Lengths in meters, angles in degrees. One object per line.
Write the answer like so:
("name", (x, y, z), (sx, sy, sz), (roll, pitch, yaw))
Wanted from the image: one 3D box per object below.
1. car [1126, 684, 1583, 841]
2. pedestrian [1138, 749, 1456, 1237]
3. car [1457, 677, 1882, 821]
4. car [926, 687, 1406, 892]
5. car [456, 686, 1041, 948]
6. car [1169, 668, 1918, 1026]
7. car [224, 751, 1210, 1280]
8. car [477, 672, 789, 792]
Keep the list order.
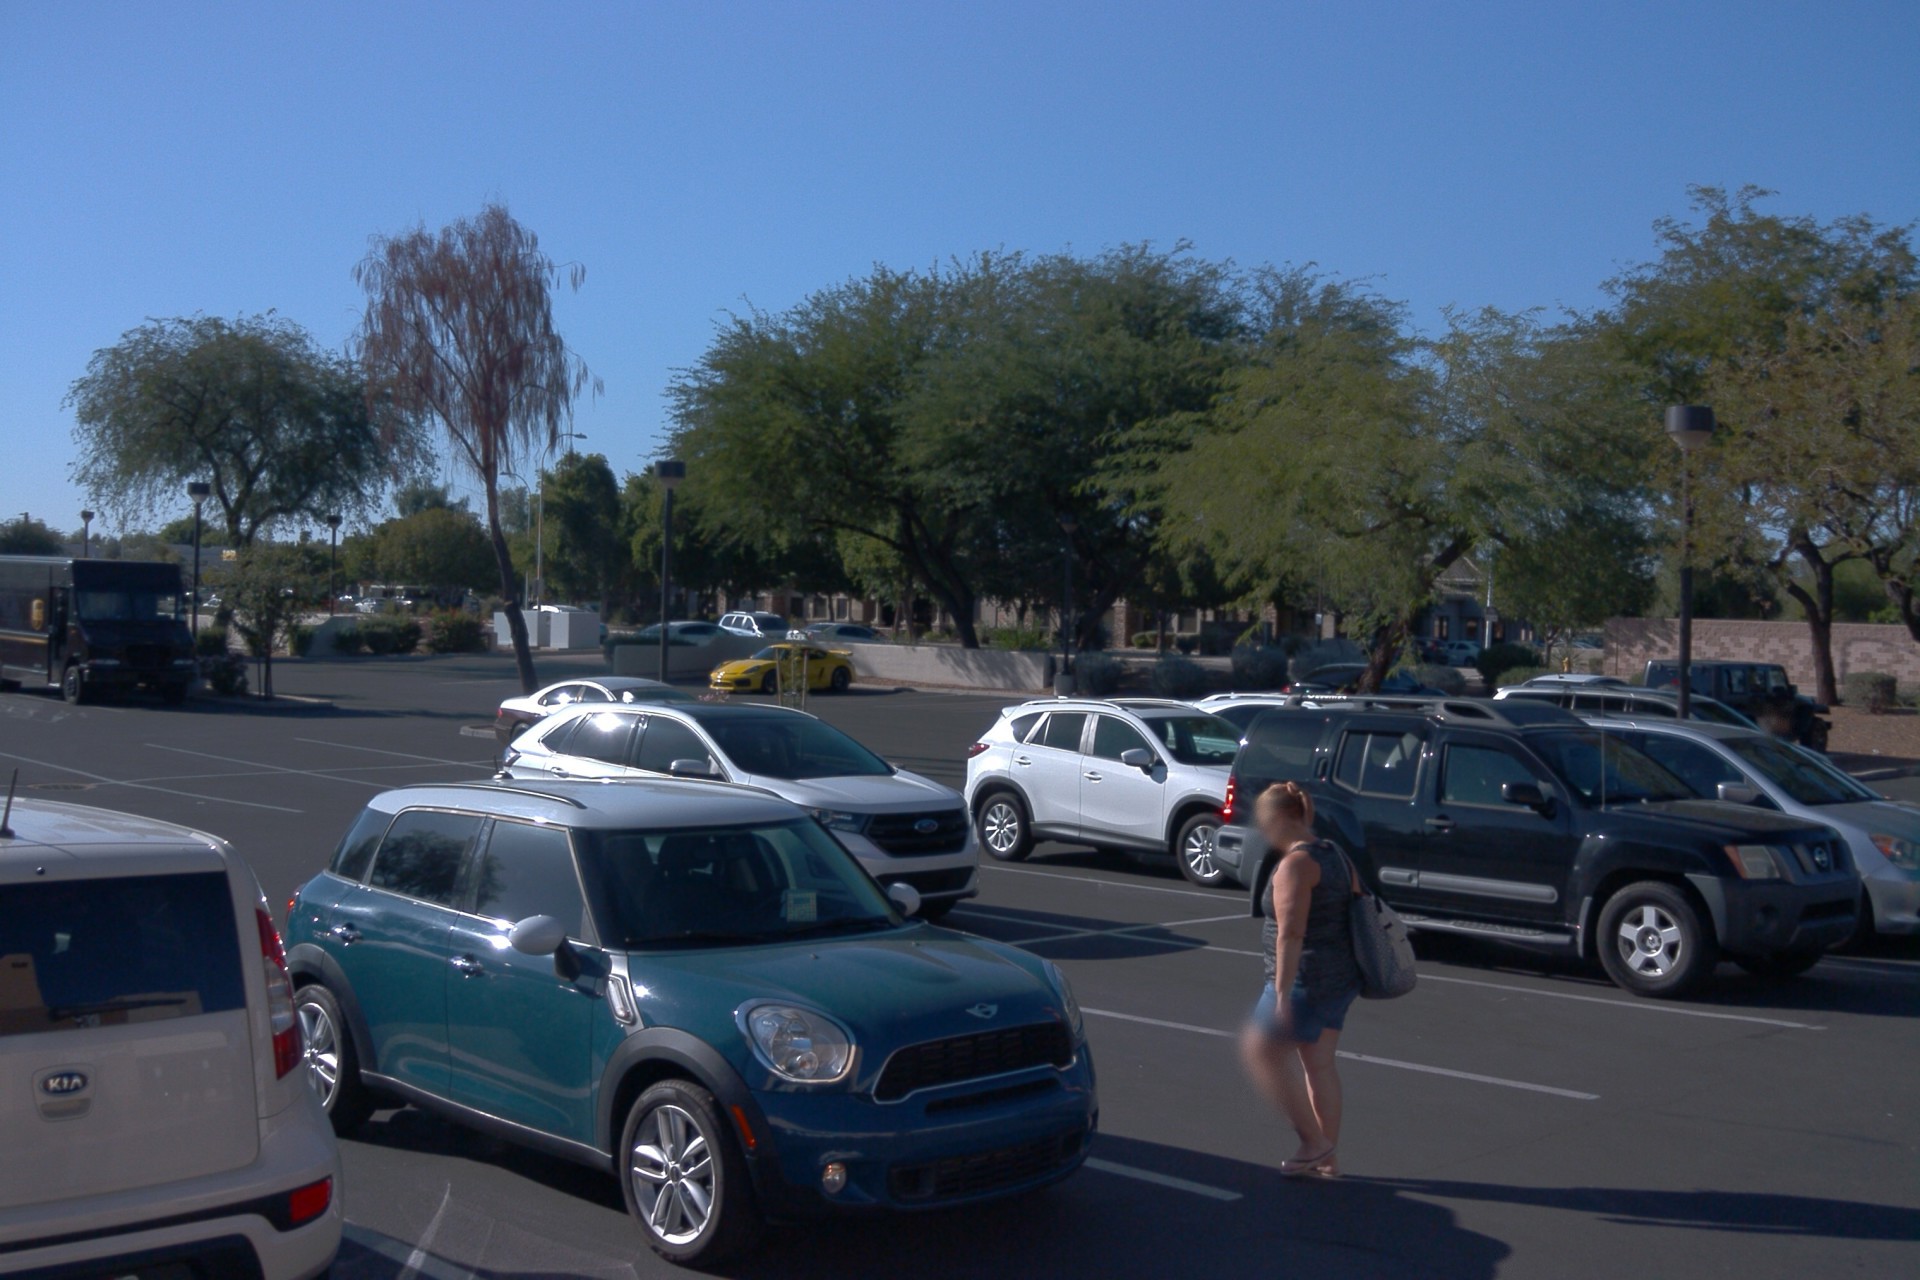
("car", (4.318, 1.284, 23.232), (2.057, 1.460, 4.663), (1, 0, -45))
("pedestrian", (1.372, 1.350, 8.386), (0.959, 1.750, 0.930), (1, 0, 32))
("car", (9.719, 1.419, 28.740), (5.065, 1.700, 2.270), (1, 0, 45))
("car", (1.985, 1.388, 20.912), (2.160, 1.720, 4.434), (1, 0, -45))
("car", (-1.838, 1.294, 16.969), (4.659, 1.720, 2.253), (1, 0, 44))
("car", (3.995, 1.267, 14.820), (2.178, 2.050, 4.676), (1, 0, -43))
("car", (-1.173, 1.375, 8.572), (2.003, 1.600, 3.979), (1, 0, -44))
("car", (-5.083, 1.341, 31.782), (5.046, 1.600, 2.114), (1, 0, 45))
